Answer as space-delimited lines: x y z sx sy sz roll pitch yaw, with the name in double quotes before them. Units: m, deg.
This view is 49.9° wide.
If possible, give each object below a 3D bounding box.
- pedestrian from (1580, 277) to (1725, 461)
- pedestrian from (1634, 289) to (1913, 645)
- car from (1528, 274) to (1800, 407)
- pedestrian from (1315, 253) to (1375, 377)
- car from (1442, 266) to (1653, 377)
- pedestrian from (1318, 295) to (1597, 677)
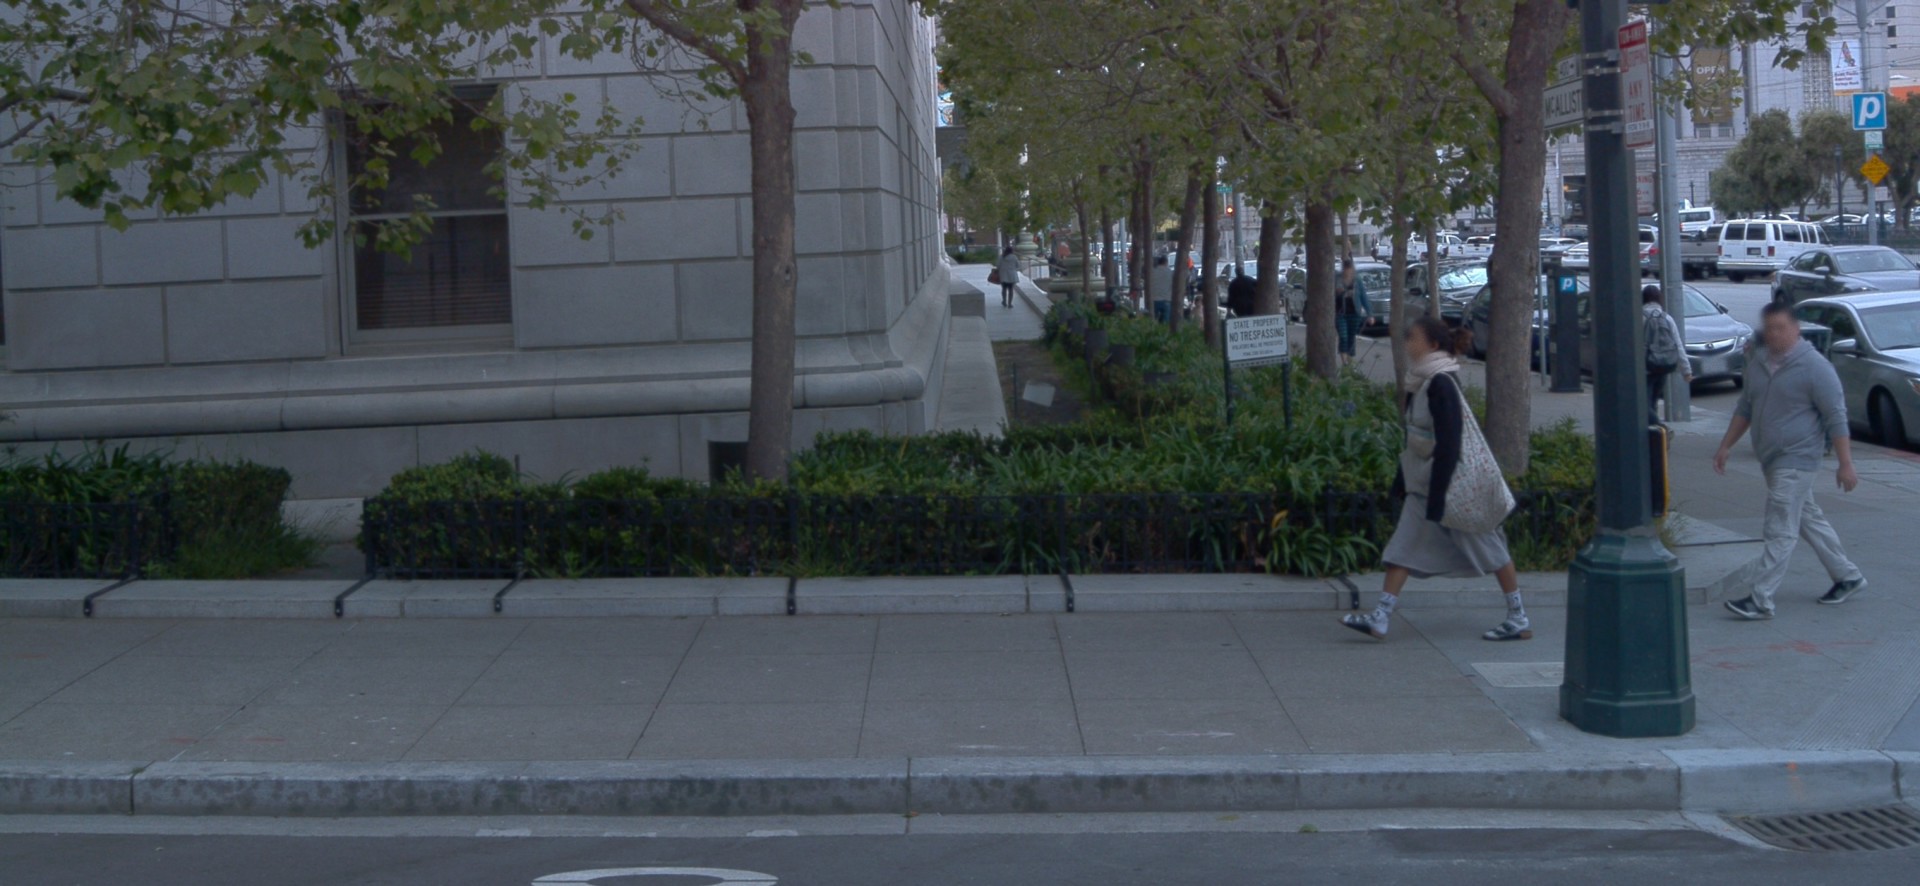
"pedestrian" 6.525 -0.720 19.478 1.014 1.654 0.858 -1 2 -11
"pedestrian" 4.293 0.079 10.933 1.081 1.739 0.856 -1 2 -17
"car" 9.491 -1.480 28.268 2.120 1.491 4.717 0 6 0
"pedestrian" 5.882 -1.976 31.479 0.896 1.831 0.978 0 2 11
"car" 9.406 -2.031 33.409 2.072 1.521 4.713 0 6 0
"pedestrian" 2.475 0.162 10.340 1.041 1.751 0.934 -1 2 -16
